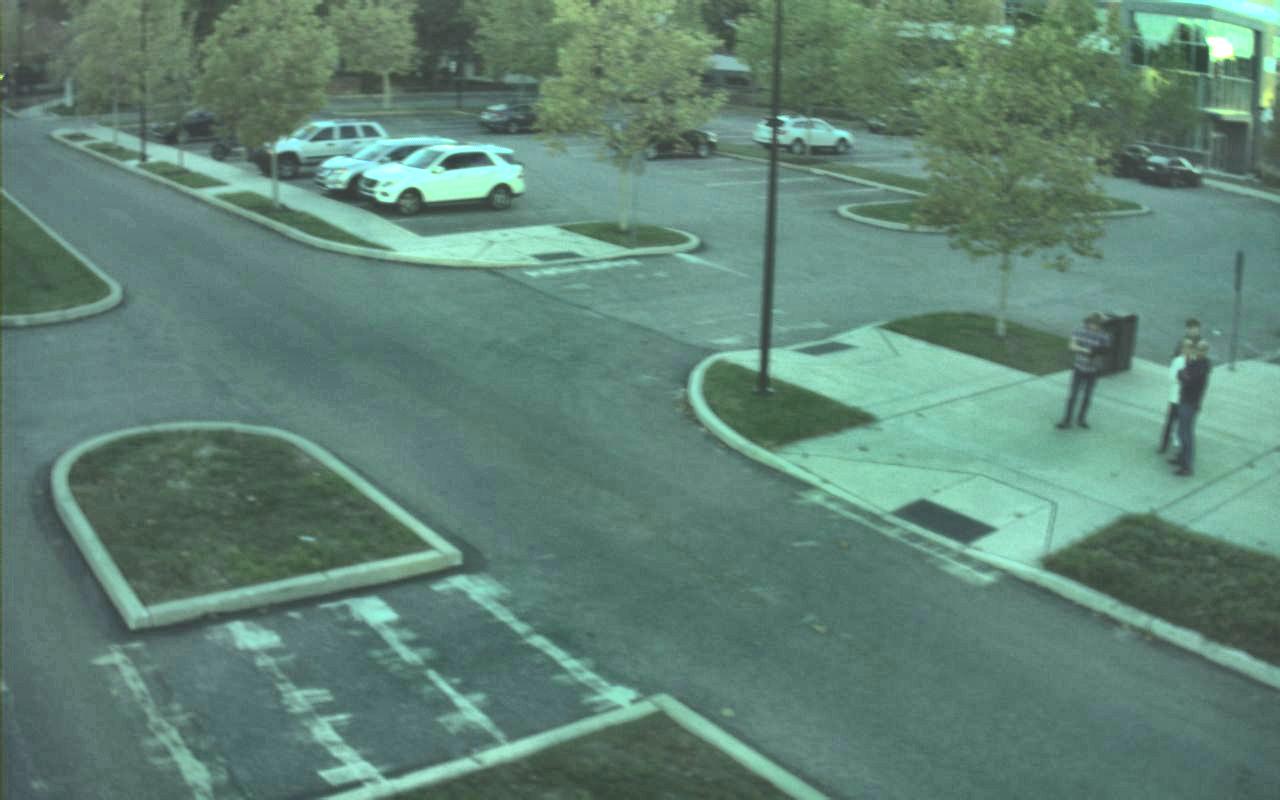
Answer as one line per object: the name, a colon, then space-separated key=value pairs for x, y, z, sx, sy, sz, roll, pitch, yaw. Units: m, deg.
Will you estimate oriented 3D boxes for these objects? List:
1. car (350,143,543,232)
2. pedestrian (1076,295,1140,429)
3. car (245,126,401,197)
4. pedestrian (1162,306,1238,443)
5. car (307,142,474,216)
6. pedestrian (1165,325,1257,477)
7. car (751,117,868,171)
car: x=-5.340 y=-5.931 z=34.332 sx=4.989 sy=1.833 sz=2.081 roll=-13 pitch=20 yaw=-37
pedestrian: x=6.901 y=-0.540 z=17.630 sx=0.765 sy=1.810 sz=0.773 roll=2 pitch=15 yaw=12
car: x=-10.430 y=-7.832 z=39.870 sx=4.774 sy=1.783 sz=2.043 roll=-12 pitch=19 yaw=-34
pedestrian: x=8.269 y=-0.344 z=17.131 sx=0.741 sy=1.830 sz=0.728 roll=-7 pitch=16 yaw=-20
car: x=-7.325 y=-6.500 z=36.066 sx=4.525 sy=1.607 sz=1.961 roll=-13 pitch=19 yaw=-35
pedestrian: x=7.830 y=0.046 z=15.835 sx=0.842 sy=1.855 sz=0.827 roll=-5 pitch=15 yaw=-14
car: x=7.361 y=-11.064 z=53.532 sx=4.979 sy=1.948 sz=2.104 roll=-12 pitch=19 yaw=-33
